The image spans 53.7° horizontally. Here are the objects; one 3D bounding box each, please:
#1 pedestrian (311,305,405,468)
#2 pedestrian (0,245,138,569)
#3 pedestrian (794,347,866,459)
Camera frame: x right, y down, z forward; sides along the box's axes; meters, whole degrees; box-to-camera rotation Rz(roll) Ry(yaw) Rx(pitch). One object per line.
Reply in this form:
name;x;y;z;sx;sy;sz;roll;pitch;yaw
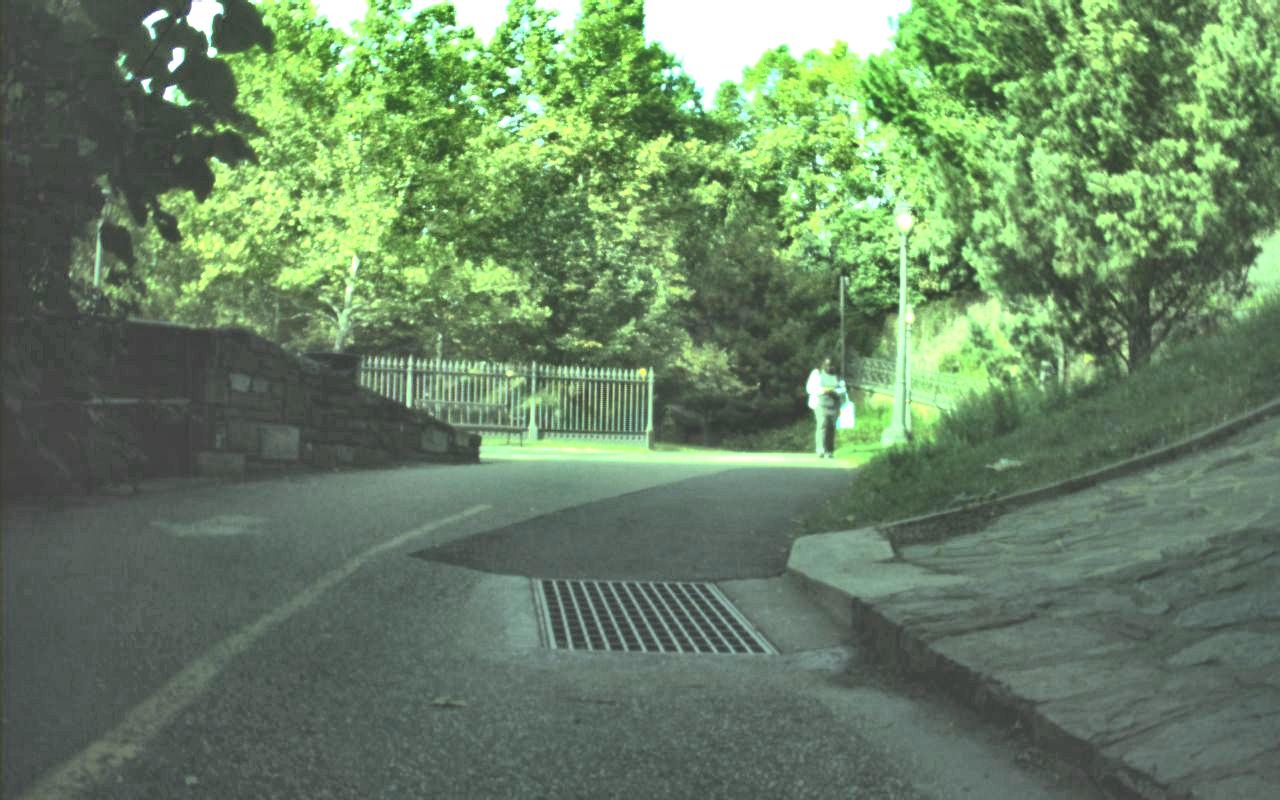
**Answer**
pedestrian;-2.936;-0.135;12.785;0.800;1.632;0.769;0;0;-30
pedestrian;-3.251;0.045;6.435;0.791;1.733;0.795;0;0;-18
pedestrian;3.049;0.041;20.165;0.857;1.741;0.856;0;0;-20
